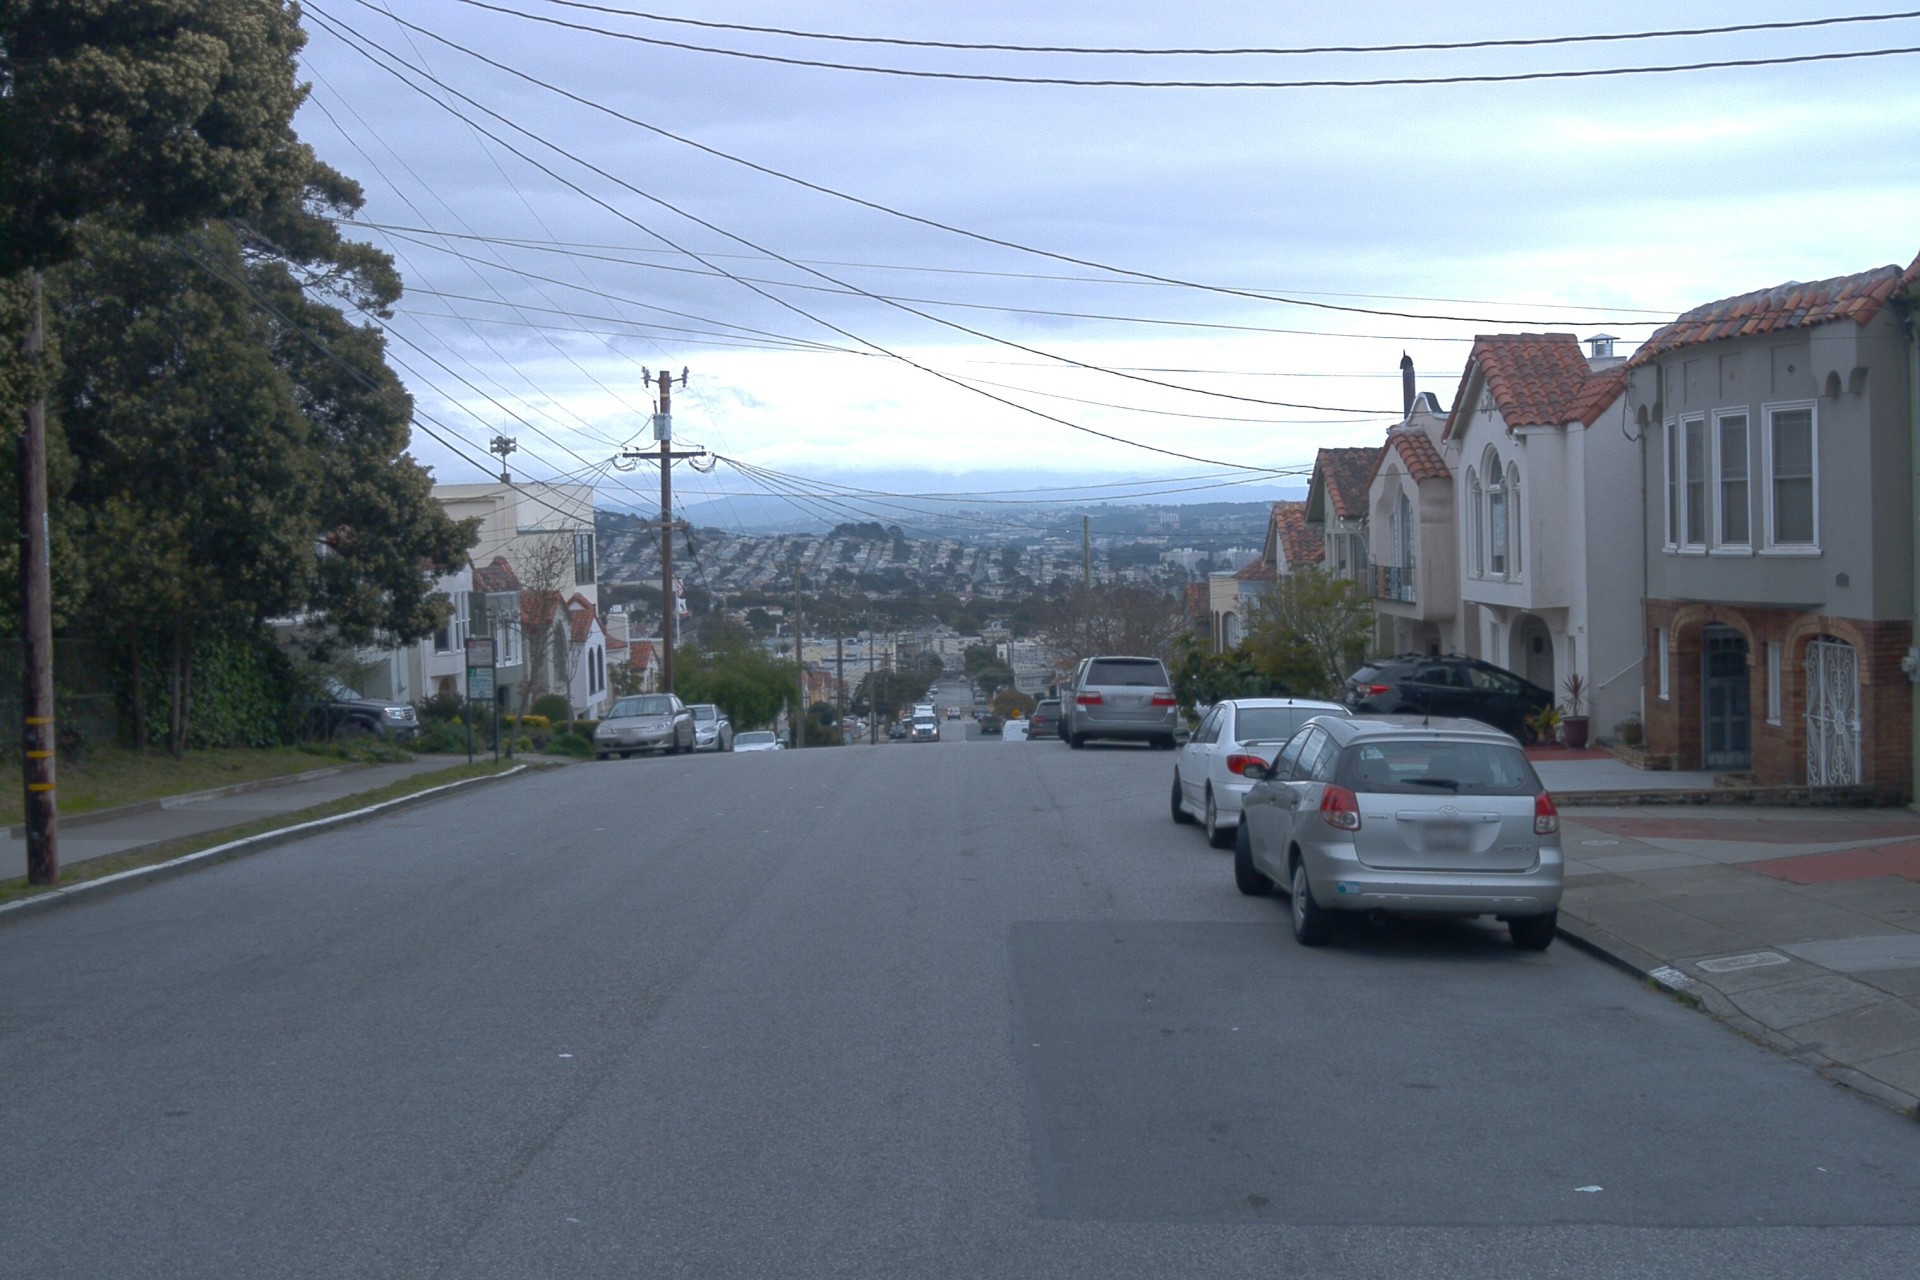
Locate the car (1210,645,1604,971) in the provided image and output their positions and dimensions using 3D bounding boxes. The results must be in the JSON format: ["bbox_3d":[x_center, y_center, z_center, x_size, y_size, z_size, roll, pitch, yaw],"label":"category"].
[{"bbox_3d":[3.137,1.086,15.375,1.982,2.084,4.249,0,0,-1],"label":"car"}]

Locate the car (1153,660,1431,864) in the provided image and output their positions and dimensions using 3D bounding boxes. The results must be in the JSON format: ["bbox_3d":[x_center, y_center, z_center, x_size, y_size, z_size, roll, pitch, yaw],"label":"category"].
[{"bbox_3d":[3.328,1.162,21.594,2.089,1.860,4.613,0,0,-1],"label":"car"}]

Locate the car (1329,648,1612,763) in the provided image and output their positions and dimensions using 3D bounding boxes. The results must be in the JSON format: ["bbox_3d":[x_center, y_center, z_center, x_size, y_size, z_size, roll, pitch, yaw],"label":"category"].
[{"bbox_3d":[8.507,1.072,34.556,4.223,1.851,1.973,0,0,-4],"label":"car"}]
